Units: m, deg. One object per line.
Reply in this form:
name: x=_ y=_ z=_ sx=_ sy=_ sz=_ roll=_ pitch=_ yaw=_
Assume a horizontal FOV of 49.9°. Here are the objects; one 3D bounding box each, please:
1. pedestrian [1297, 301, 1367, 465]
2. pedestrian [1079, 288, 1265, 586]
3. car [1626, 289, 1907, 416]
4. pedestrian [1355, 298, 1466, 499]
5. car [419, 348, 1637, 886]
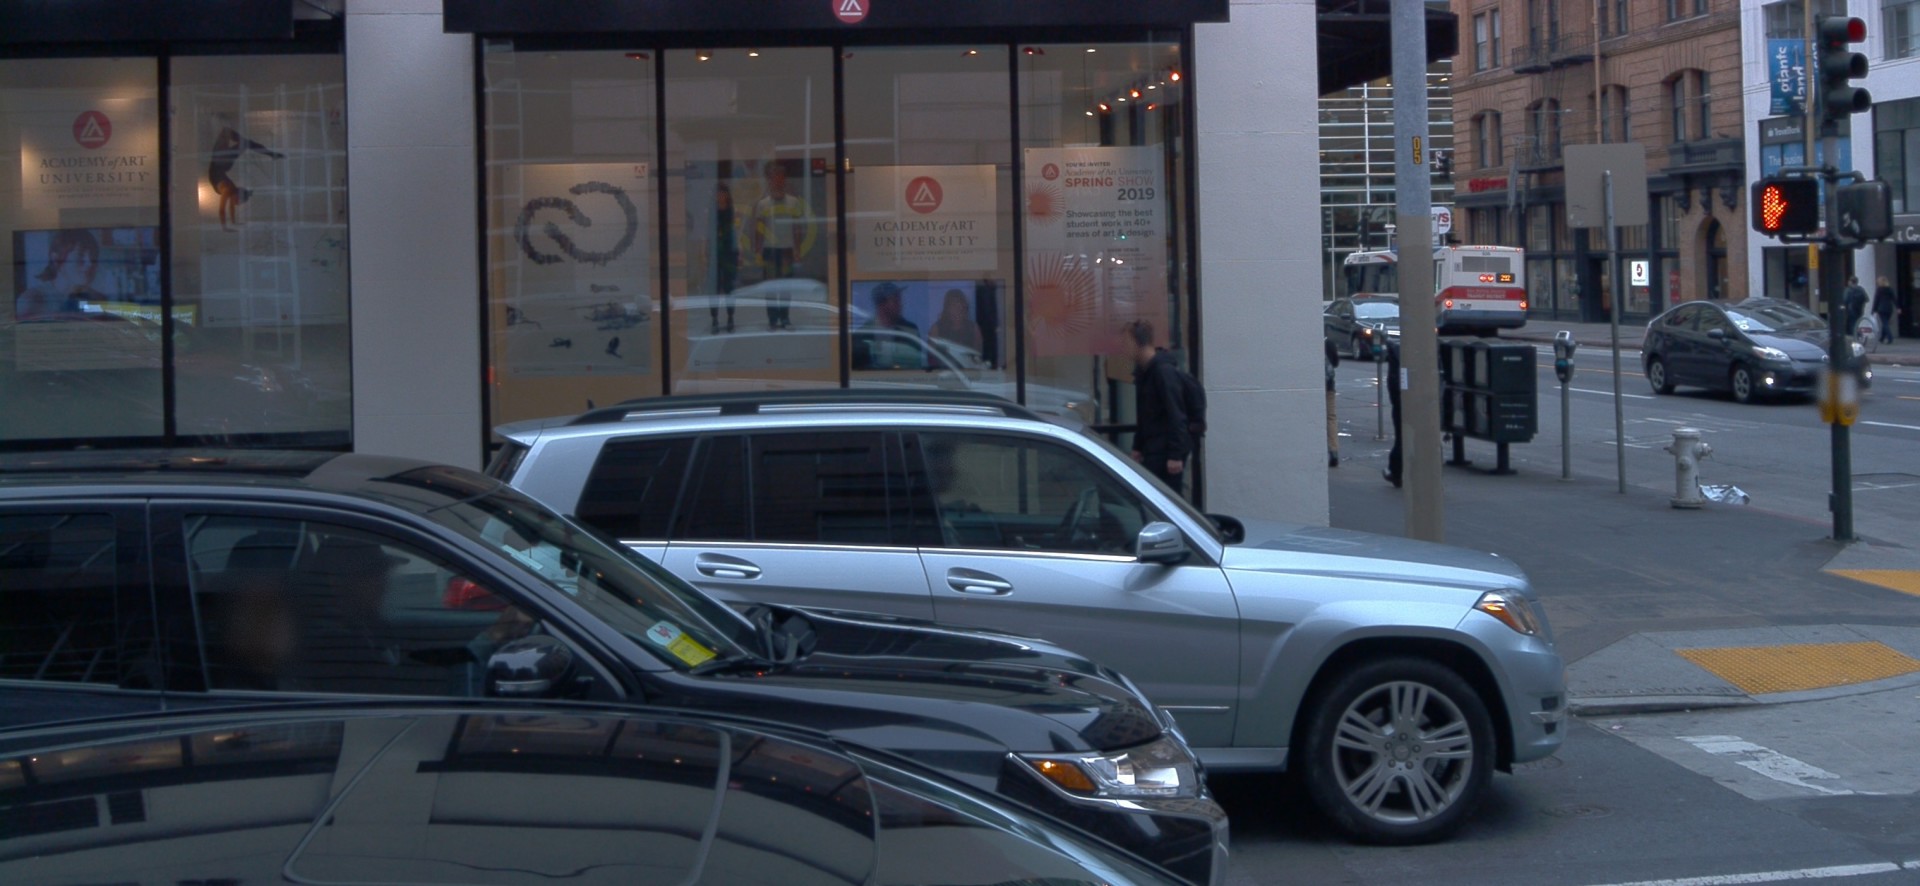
pedestrian: x=4.064 y=-0.671 z=22.546 sx=0.666 sy=1.727 sz=0.795 roll=0 pitch=2 yaw=4
pedestrian: x=1.404 y=-0.073 z=13.801 sx=1.086 sy=1.887 sz=0.780 roll=-1 pitch=2 yaw=-7
car: x=11.879 y=-1.420 z=30.756 sx=2.064 sy=1.531 sz=4.507 roll=-1 pitch=6 yaw=-6
pedestrian: x=4.256 y=-0.449 z=19.542 sx=0.732 sy=1.796 sz=0.973 roll=-1 pitch=2 yaw=-9
car: x=0.221 y=0.648 z=8.331 sx=4.302 sy=1.863 sz=2.150 roll=-1 pitch=4 yaw=-4
